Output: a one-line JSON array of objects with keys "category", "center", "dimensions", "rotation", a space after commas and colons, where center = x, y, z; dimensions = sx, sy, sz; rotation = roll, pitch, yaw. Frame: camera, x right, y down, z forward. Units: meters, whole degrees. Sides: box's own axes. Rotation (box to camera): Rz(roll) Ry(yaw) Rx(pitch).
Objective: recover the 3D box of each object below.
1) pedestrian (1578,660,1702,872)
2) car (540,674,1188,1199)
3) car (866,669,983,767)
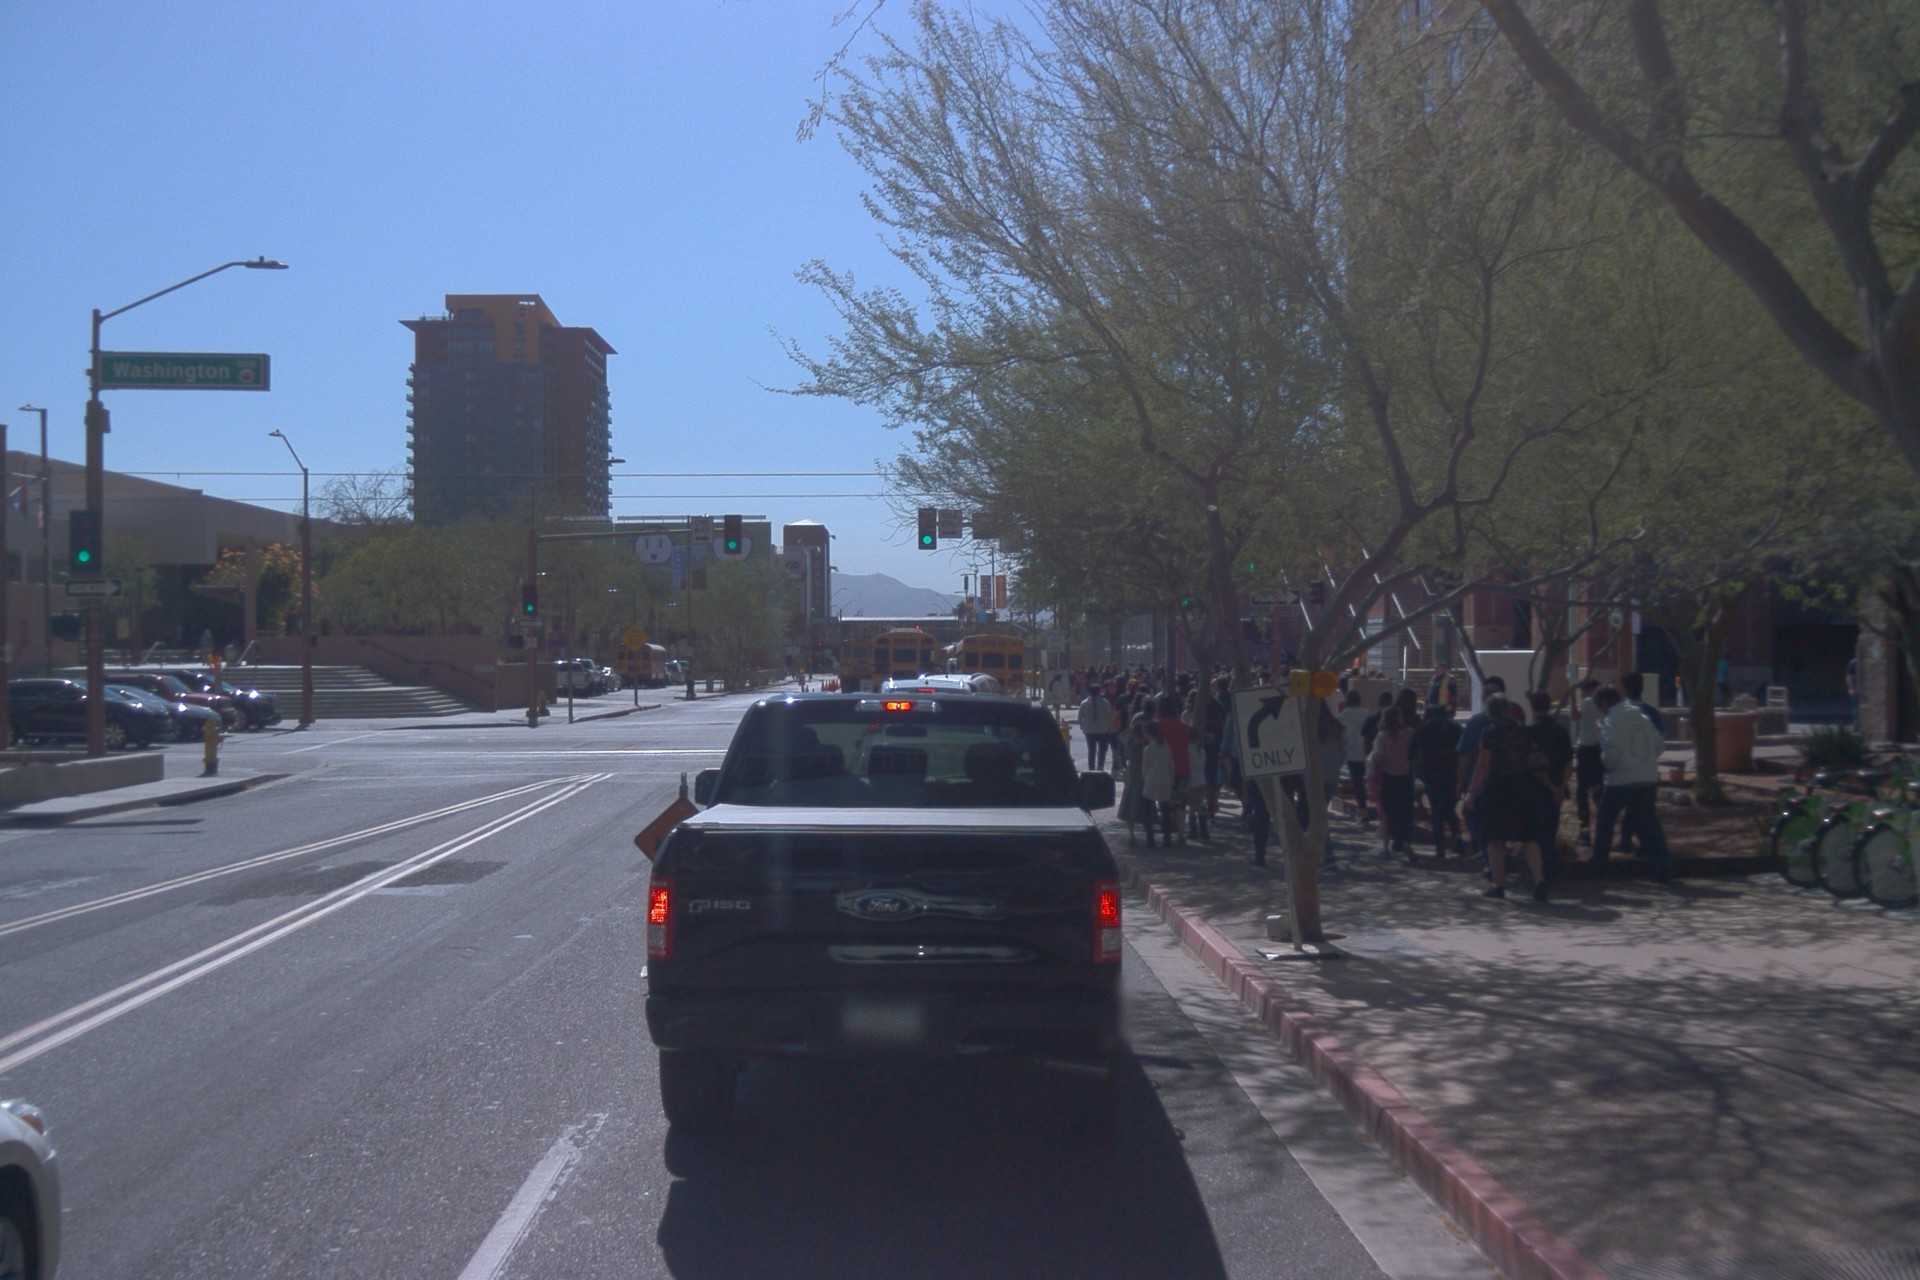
[{"category": "pedestrian", "center": [6.154, 1.125, 18.863], "dimensions": [0.835, 1.880, 0.792], "rotation": [0, 0, -2]}, {"category": "car", "center": [-0.354, 1.183, 10.674], "dimensions": [2.486, 1.950, 5.329], "rotation": [0, 0, 0]}, {"category": "car", "center": [-0.509, 1.201, 33.357], "dimensions": [1.753, 1.430, 4.270], "rotation": [0, 0, 1]}]
